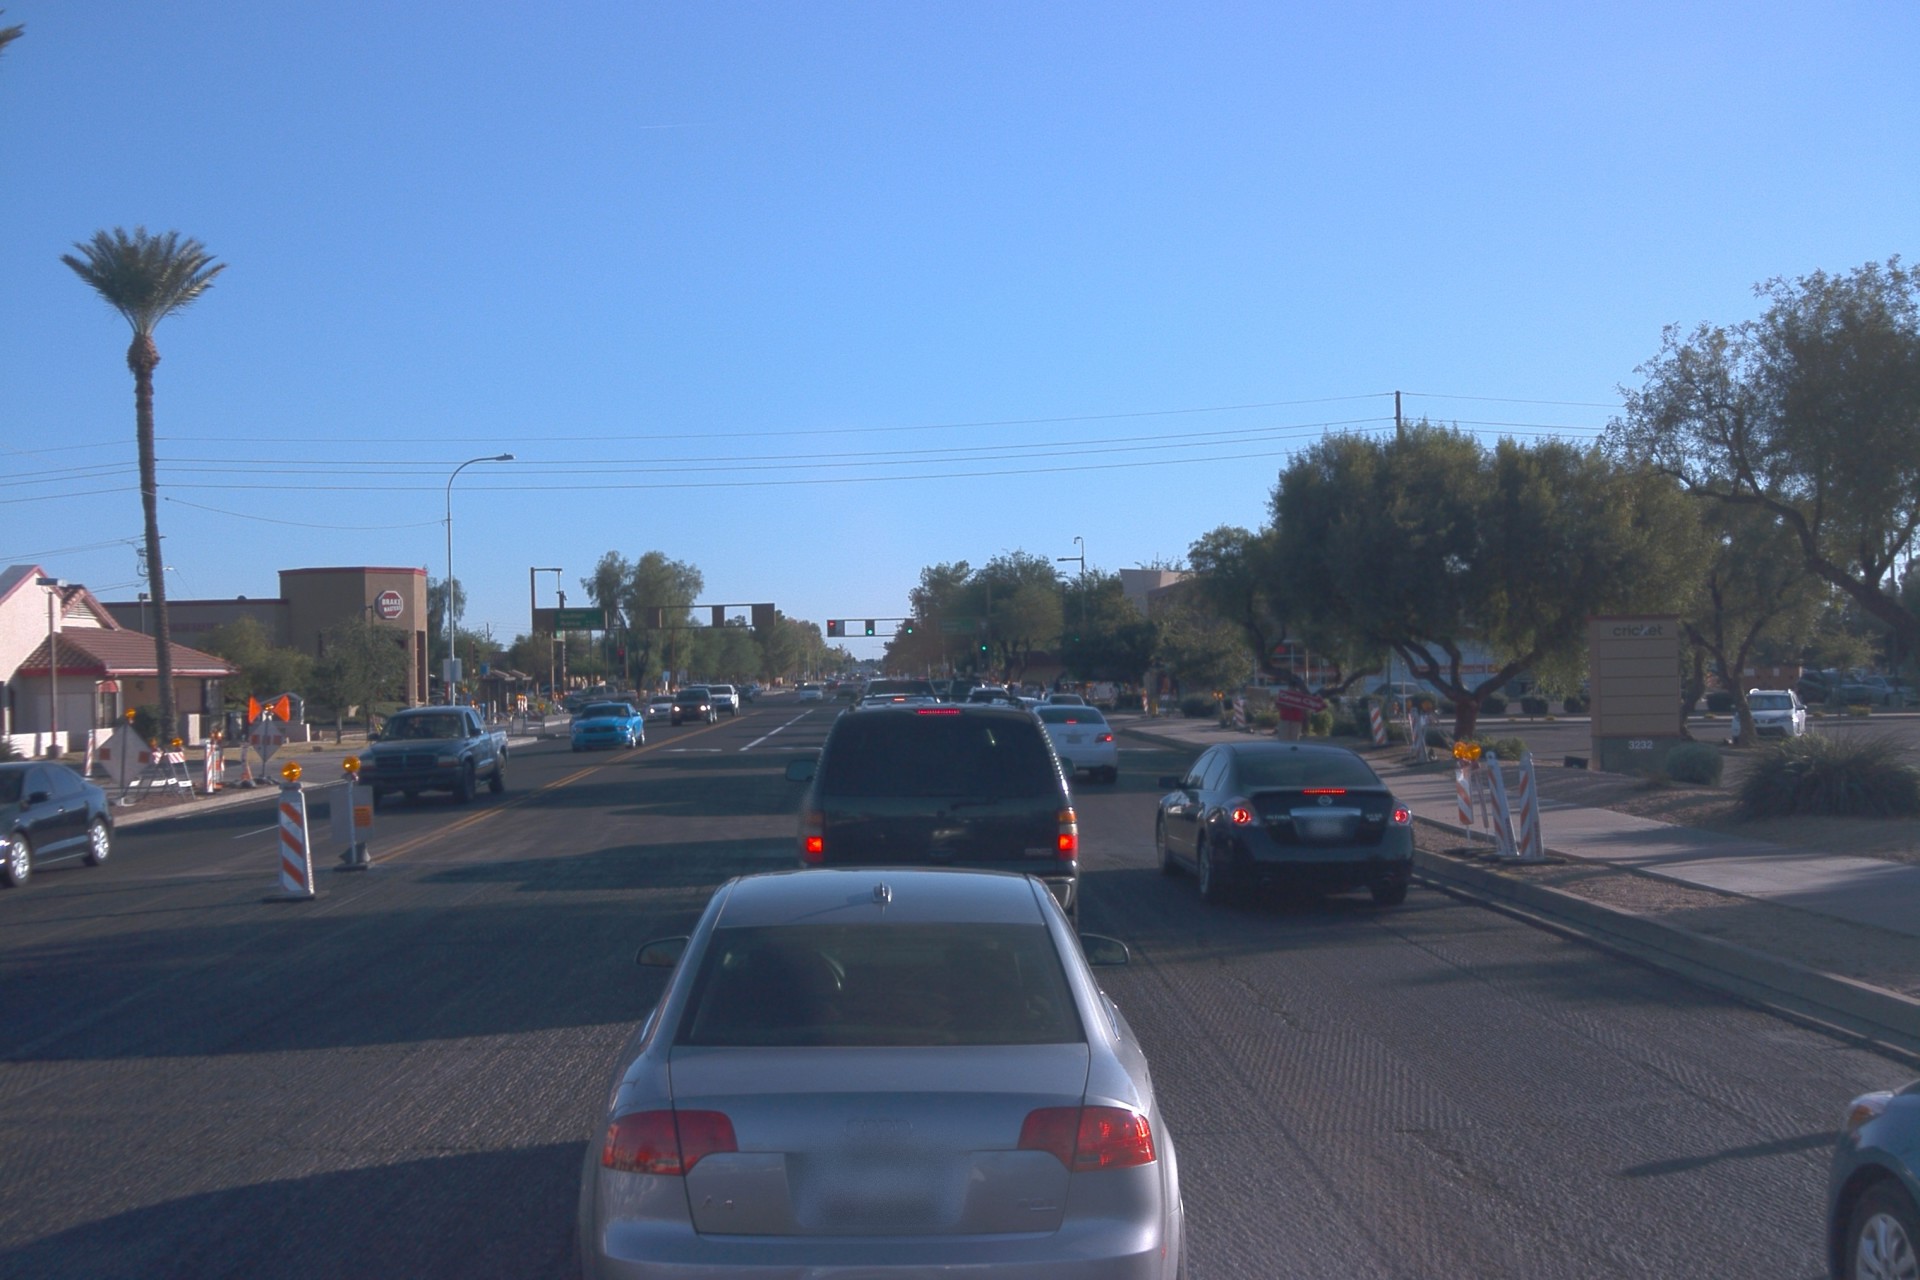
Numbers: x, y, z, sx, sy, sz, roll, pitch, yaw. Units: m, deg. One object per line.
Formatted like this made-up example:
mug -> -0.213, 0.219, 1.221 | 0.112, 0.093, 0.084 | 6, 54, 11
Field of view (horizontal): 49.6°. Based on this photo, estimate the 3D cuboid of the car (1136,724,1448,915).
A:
car -> 3.006, 1.609, 19.908 | 2.064, 1.500, 4.675 | 0, -1, -2

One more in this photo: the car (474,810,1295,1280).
car -> -0.267, 1.487, 7.357 | 2.032, 1.480, 4.404 | 0, -1, -2

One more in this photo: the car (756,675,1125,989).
car -> -0.207, 1.294, 16.085 | 2.405, 2.040, 5.063 | 0, -1, -2
